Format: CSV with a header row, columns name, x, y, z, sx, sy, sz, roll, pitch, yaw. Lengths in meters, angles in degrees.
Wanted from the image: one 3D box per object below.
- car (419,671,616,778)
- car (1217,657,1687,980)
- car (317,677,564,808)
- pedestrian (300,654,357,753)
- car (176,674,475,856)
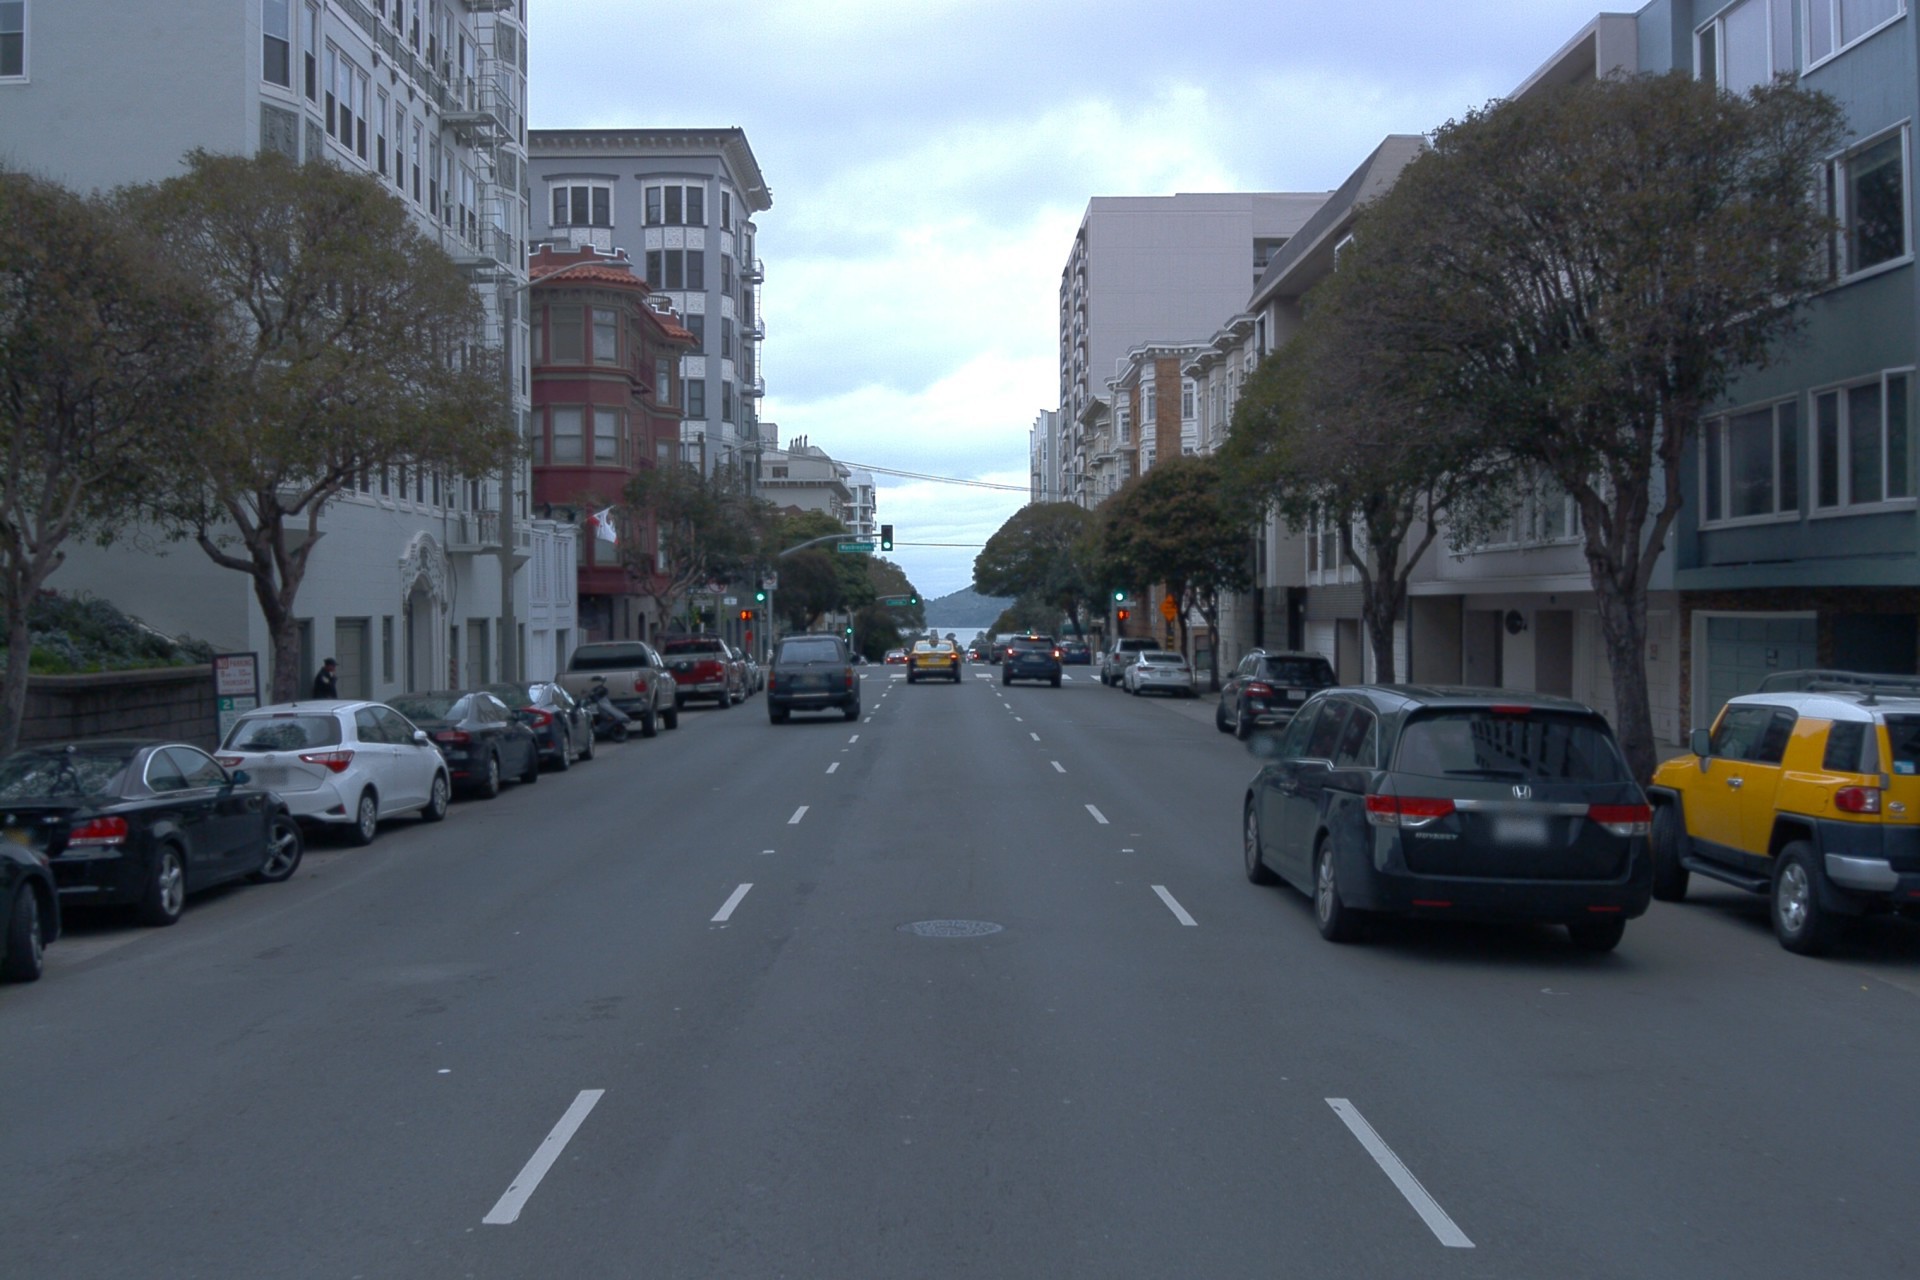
name,x,y,z,sx,sy,sz,roll,pitch,yaw
car,-6.985,1.295,32.874,2.234,1.480,4.800,0,0,-2
car,3.327,1.117,15.030,2.200,1.890,4.938,0,1,-1
car,-6.921,1.318,27.875,2.103,1.490,4.821,0,0,0
pedestrian,-10.447,1.047,33.932,0.677,1.600,0.839,0,1,-1
car,-6.802,1.277,22.444,1.816,1.700,4.112,0,1,3
